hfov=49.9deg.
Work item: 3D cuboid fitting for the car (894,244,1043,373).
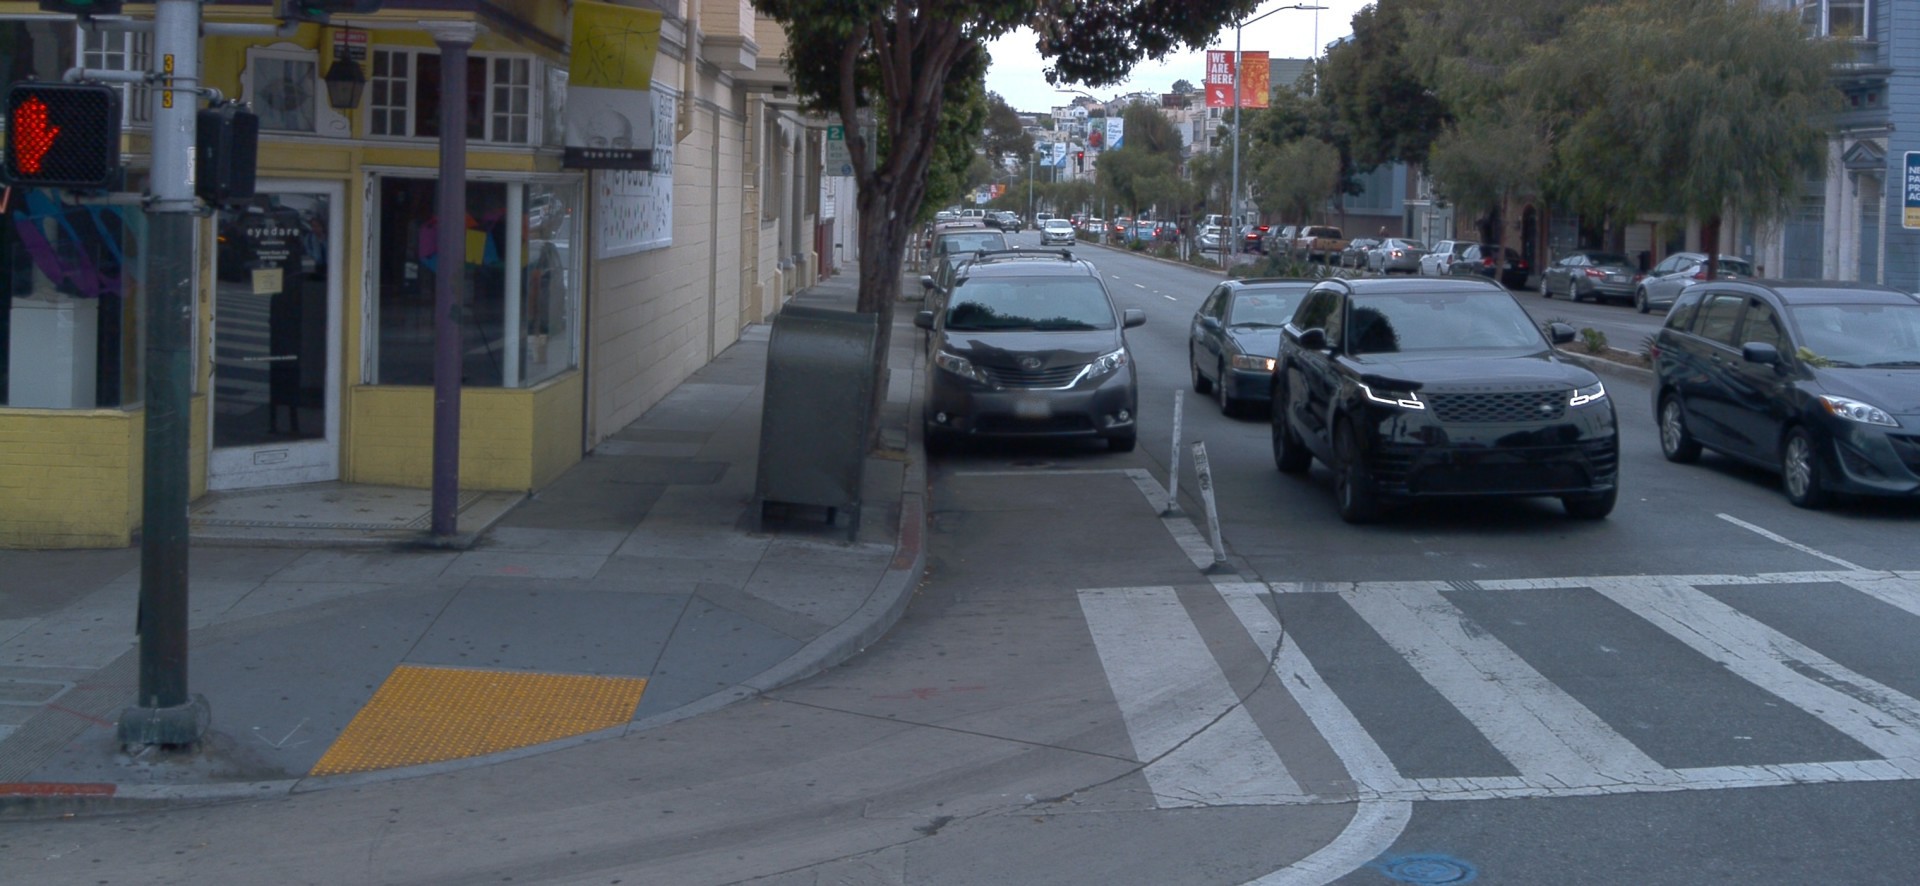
[{"bbox_3d":[0.130,-2.154,31.942,2.127,1.741,4.524,0,6,0],"label":"car"}]

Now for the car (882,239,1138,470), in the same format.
[{"bbox_3d":[0.450,-1.036,20.694,2.239,1.919,5.191,0,6,0],"label":"car"}]

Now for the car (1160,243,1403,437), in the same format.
[{"bbox_3d":[3.502,-1.277,23.349,2.015,1.860,4.866,0,6,0],"label":"car"}]

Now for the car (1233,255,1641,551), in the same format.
[{"bbox_3d":[3.458,-0.475,15.944,2.095,1.820,4.698,0,6,0],"label":"car"}]
